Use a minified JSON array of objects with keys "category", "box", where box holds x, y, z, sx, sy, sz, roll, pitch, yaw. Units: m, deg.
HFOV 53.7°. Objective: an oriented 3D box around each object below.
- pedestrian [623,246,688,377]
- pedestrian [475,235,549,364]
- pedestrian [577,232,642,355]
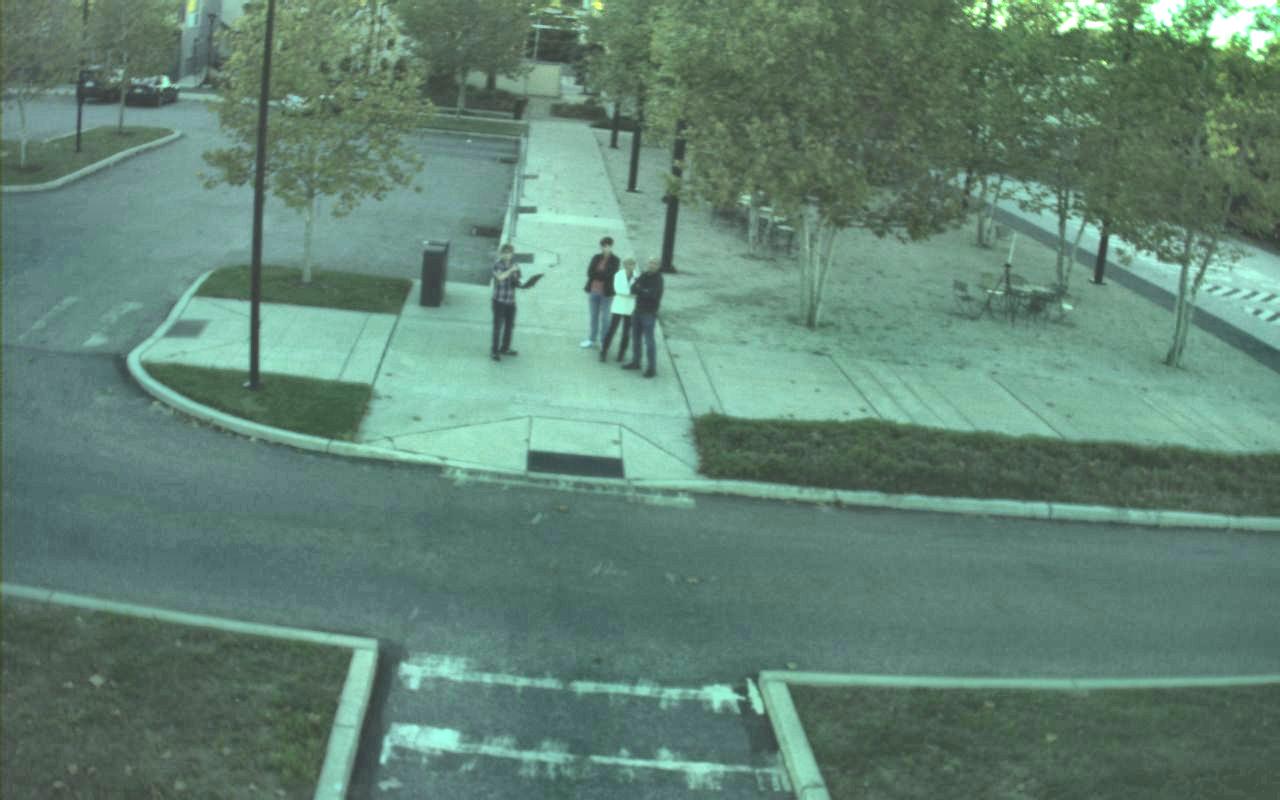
[{"category":"pedestrian","box":[0.238,-1.385,19.573,0.809,1.857,0.777,-5,15,-13]},{"category":"pedestrian","box":[-1.978,-1.571,19.473,0.819,1.841,0.785,4,16,20]},{"category":"pedestrian","box":[-0.502,-1.759,20.668,0.856,1.823,0.815,-5,15,-15]}]
